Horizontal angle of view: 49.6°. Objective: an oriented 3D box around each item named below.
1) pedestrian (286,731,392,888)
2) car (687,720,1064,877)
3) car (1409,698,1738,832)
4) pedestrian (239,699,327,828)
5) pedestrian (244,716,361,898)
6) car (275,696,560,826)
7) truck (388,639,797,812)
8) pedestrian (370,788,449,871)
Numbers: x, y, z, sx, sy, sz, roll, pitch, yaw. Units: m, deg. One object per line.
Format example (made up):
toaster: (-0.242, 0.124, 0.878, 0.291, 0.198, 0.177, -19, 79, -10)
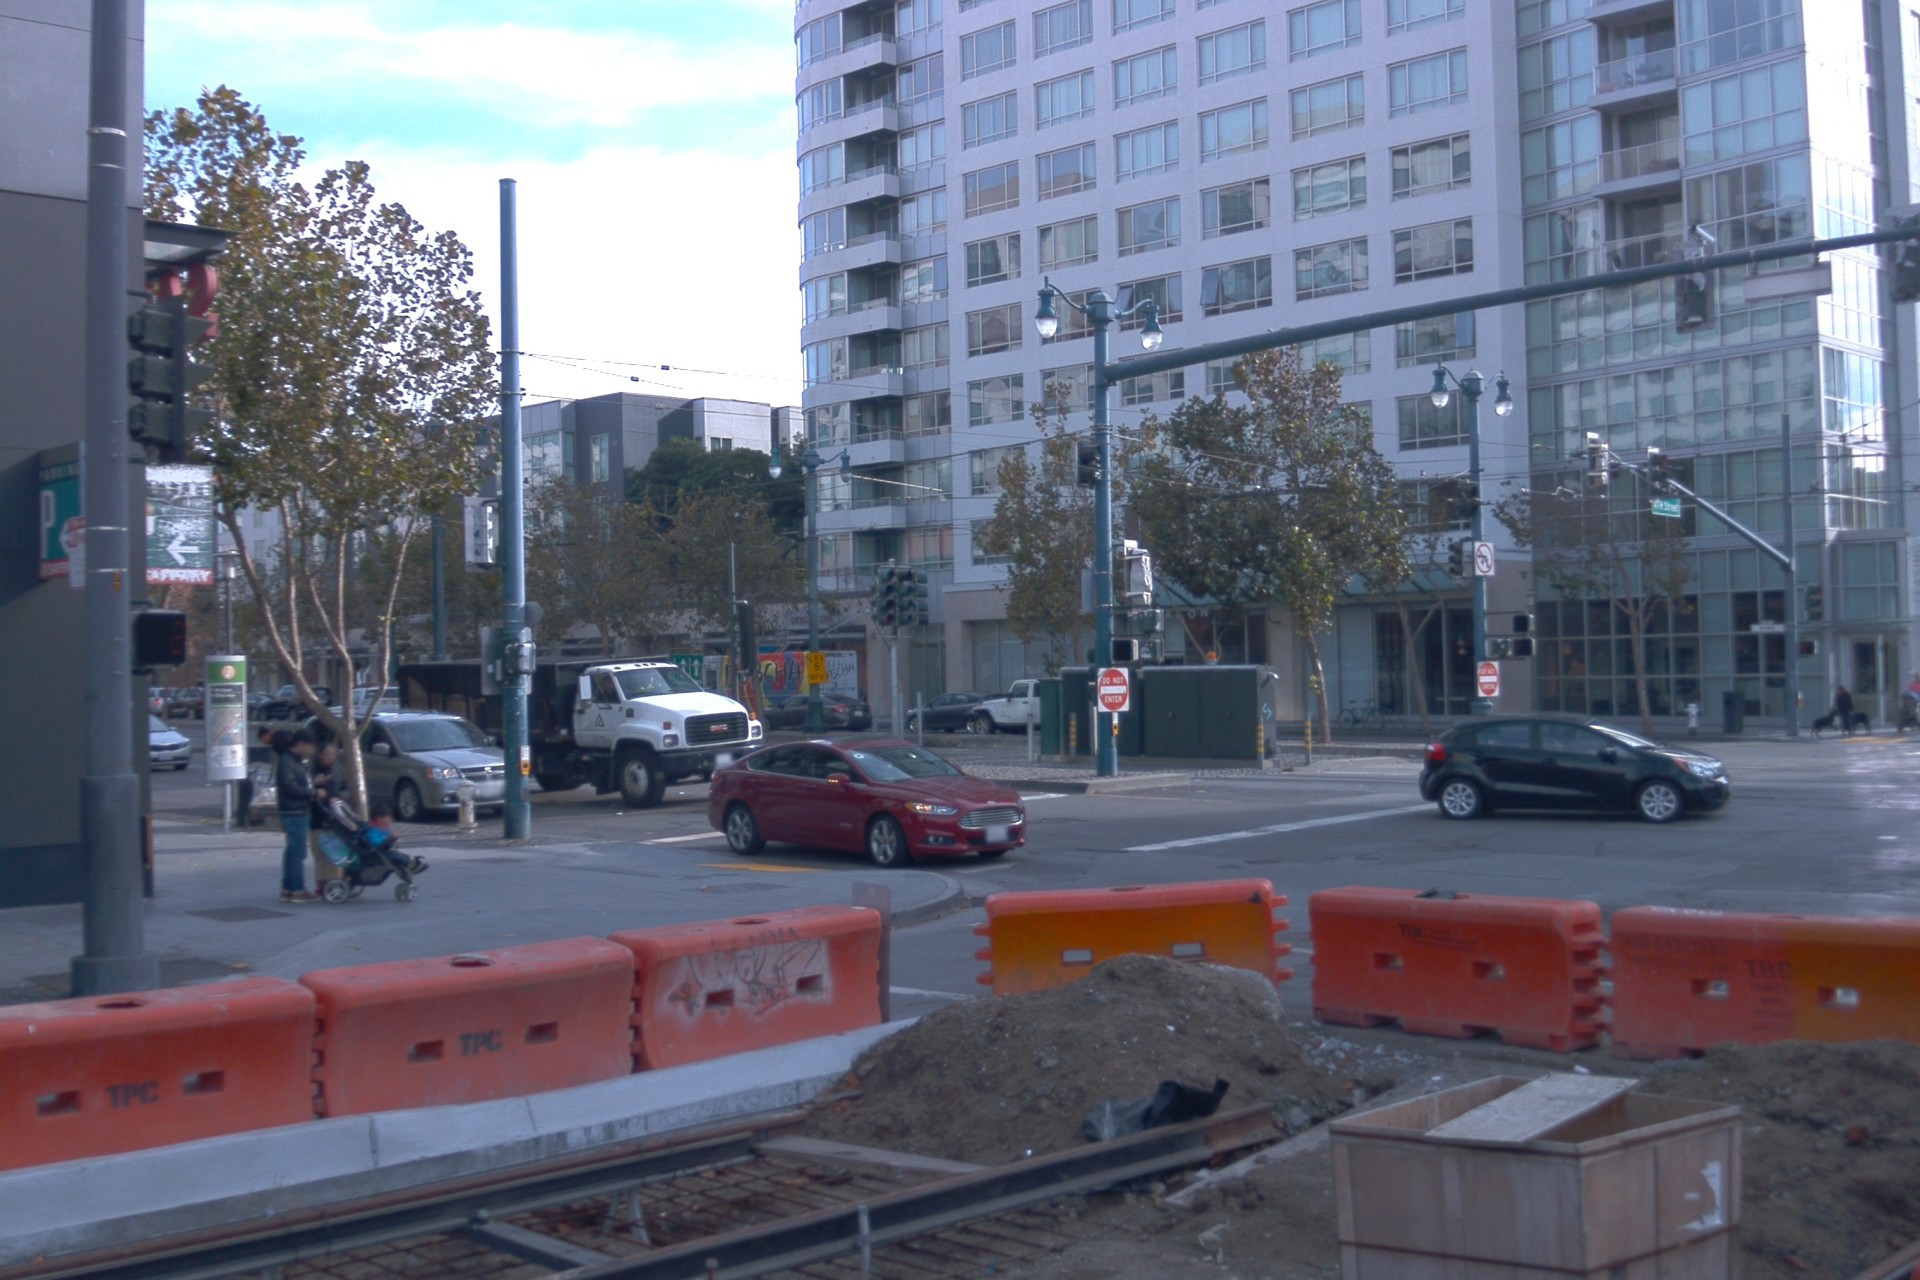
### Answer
pedestrian: (-6.056, 1.640, 20.278, 0.723, 1.460, 0.660, 0, -1, 29)
car: (-1.160, 1.894, 26.081, 2.114, 1.605, 4.851, 1, -1, -42)
car: (8.349, 1.648, 28.329, 4.009, 1.617, 1.782, 0, -1, 29)
pedestrian: (-9.942, 1.793, 30.516, 0.936, 1.830, 0.987, 1, -1, -37)
pedestrian: (-6.289, 1.573, 19.884, 0.748, 1.660, 0.767, 0, -1, 38)
car: (-9.181, 1.942, 34.897, 2.282, 1.897, 5.242, 1, -1, -45)
truck: (-6.783, 1.390, 37.367, 8.088, 2.794, 3.056, 0, -1, 44)
pedestrian: (-5.304, 1.820, 20.019, 0.723, 0.752, 0.485, 0, -1, -15)
